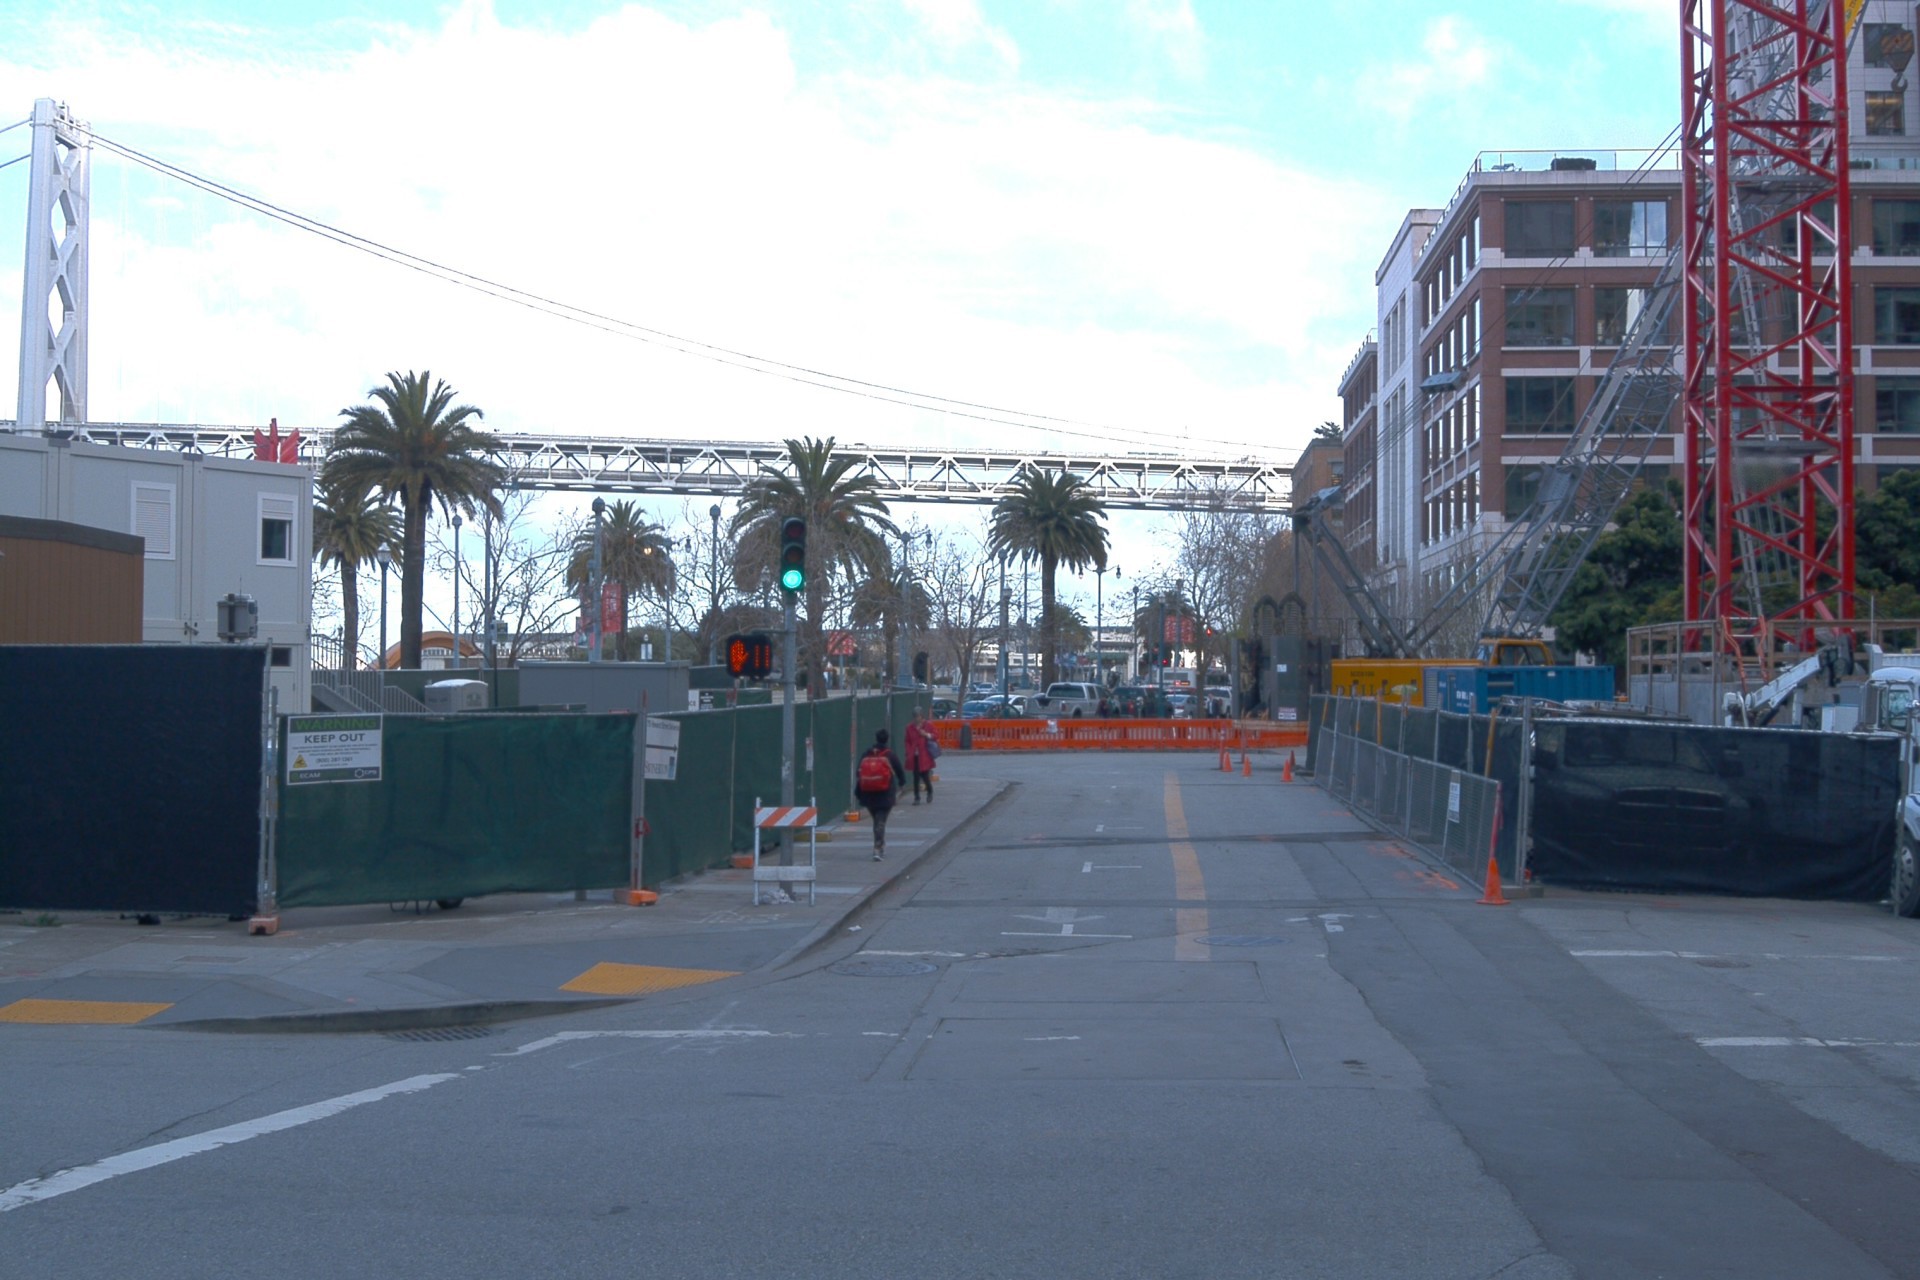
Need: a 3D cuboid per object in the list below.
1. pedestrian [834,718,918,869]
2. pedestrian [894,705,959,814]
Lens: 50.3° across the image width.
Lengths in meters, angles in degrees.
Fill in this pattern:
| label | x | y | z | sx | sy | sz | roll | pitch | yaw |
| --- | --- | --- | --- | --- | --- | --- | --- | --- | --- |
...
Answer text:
| label | x | y | z | sx | sy | sz | roll | pitch | yaw |
| --- | --- | --- | --- | --- | --- | --- | --- | --- | --- |
| pedestrian | -1.029 | 1.880 | 25.403 | 0.771 | 1.760 | 1.197 | 1 | 0 | 11 |
| pedestrian | -0.569 | 2.033 | 35.036 | 0.928 | 1.790 | 0.851 | 1 | 0 | 11 |
